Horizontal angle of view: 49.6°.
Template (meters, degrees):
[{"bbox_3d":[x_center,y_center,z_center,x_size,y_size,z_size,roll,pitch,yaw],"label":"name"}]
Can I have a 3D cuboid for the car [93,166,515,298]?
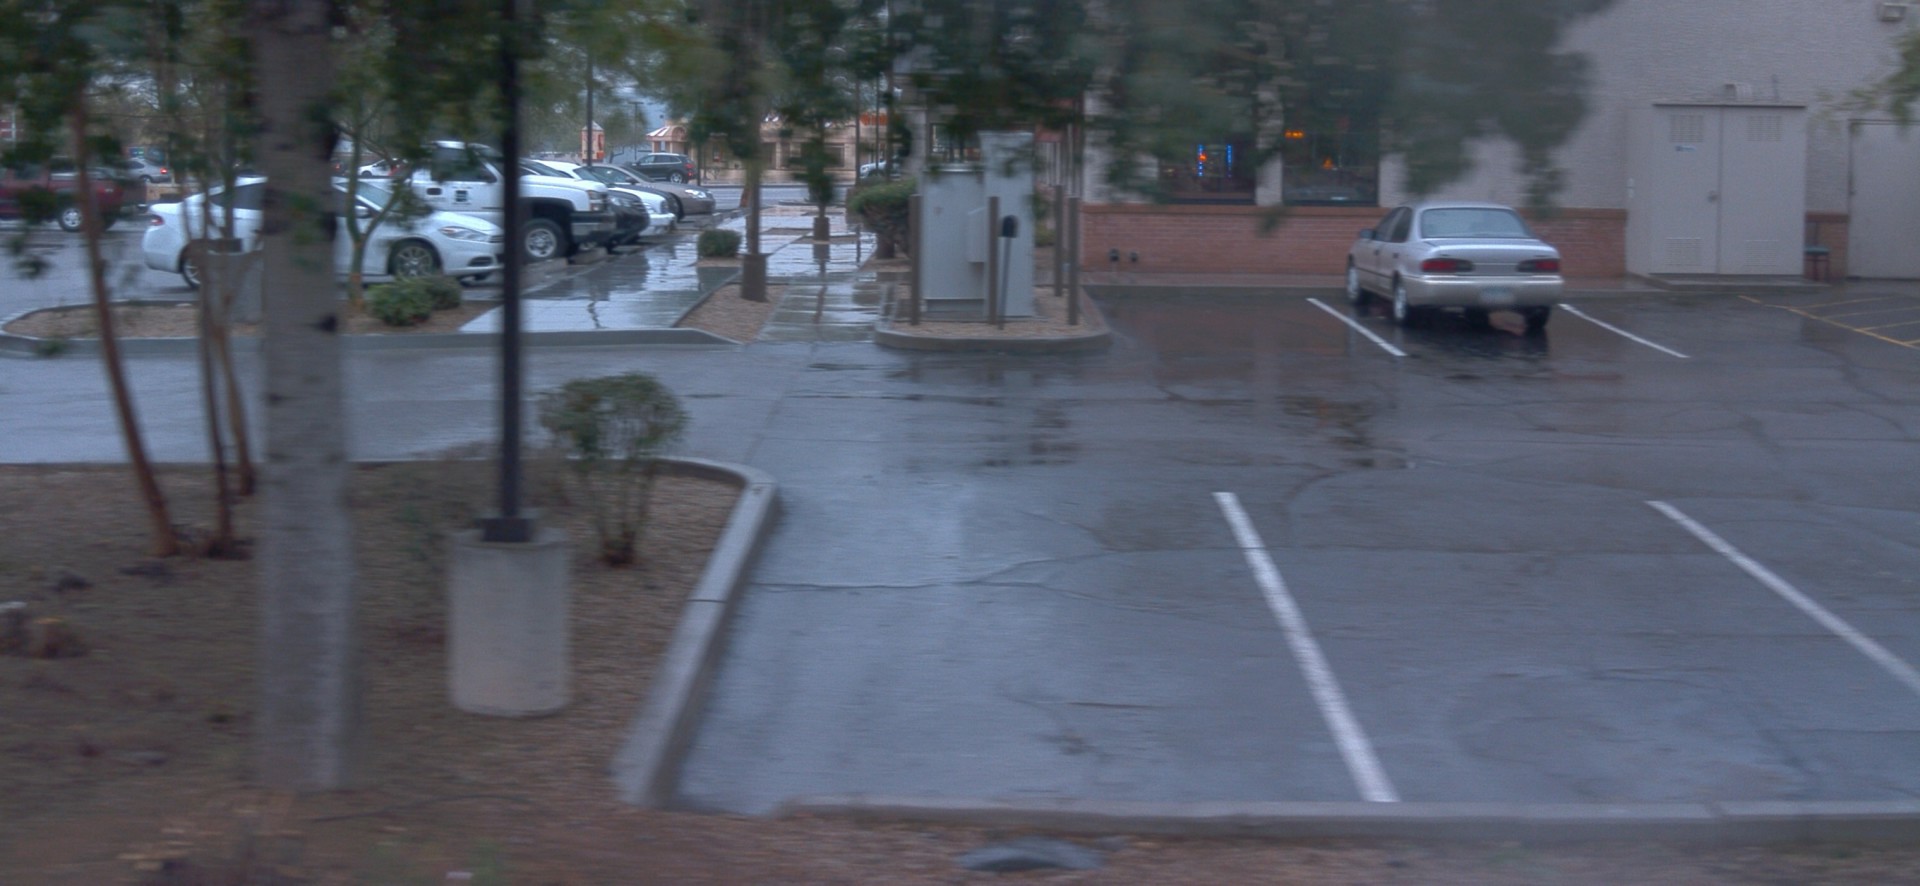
[{"bbox_3d":[-8.464,-2.756,27.175,4.786,1.616,2.206,0,4,1],"label":"car"}]

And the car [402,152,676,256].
[{"bbox_3d":[-7.598,-4.338,37.874,4.569,1.817,1.973,0,3,0],"label":"car"}]

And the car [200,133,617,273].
[{"bbox_3d":[-8.369,-3.686,32.108,5.860,2.026,2.377,0,3,-5],"label":"car"}]

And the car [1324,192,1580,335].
[{"bbox_3d":[5.537,-2.103,23.980,1.913,1.484,4.430,0,5,0],"label":"car"}]
